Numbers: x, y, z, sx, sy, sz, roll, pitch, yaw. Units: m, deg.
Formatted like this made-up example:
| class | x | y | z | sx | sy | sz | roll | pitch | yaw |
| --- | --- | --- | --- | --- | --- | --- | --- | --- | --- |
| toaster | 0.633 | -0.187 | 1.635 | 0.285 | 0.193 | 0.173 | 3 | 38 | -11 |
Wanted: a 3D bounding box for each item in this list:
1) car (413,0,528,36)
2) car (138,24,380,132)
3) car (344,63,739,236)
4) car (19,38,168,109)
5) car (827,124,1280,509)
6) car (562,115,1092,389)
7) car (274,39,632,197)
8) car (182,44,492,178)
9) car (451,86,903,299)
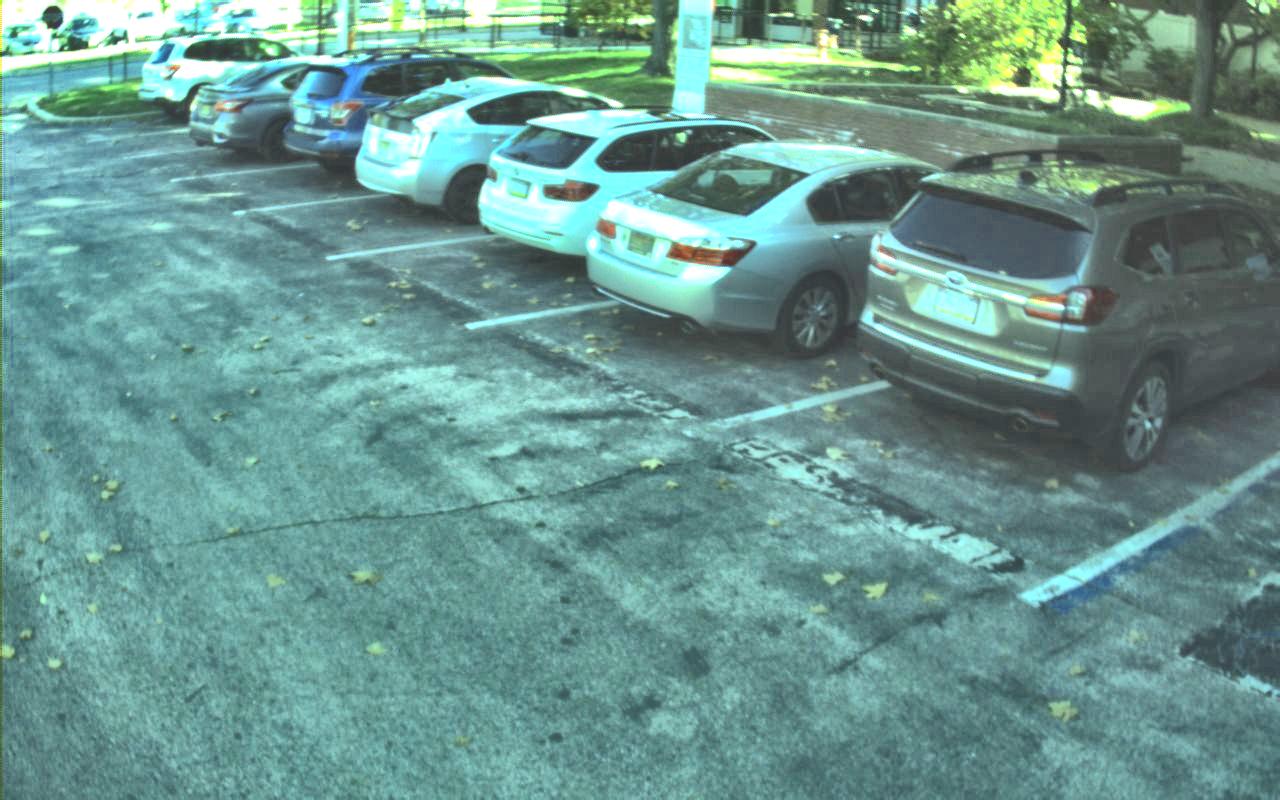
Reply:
| class | x | y | z | sx | sy | sz | roll | pitch | yaw |
| --- | --- | --- | --- | --- | --- | --- | --- | --- | --- |
| car | -6.811 | -15.376 | 48.126 | 4.667 | 1.744 | 2.013 | 13 | 21 | 39 |
| car | -7.553 | -6.347 | 23.287 | 4.556 | 1.687 | 1.969 | -13 | 20 | -36 |
| car | -1.100 | -3.053 | 14.528 | 4.300 | 1.578 | 1.888 | -13 | 20 | -34 |
| car | -17.411 | -10.232 | 35.571 | 4.801 | 1.691 | 2.010 | -12 | 20 | -33 |
| car | 3.664 | -0.938 | 8.496 | 4.765 | 1.788 | 2.032 | -14 | 21 | -37 |
| car | 1.759 | -1.451 | 10.323 | 4.448 | 1.549 | 1.918 | -13 | 20 | -35 |
| car | -2.511 | -3.906 | 16.569 | 4.485 | 1.720 | 1.966 | -13 | 20 | -34 |
| car | -4.636 | -4.465 | 18.390 | 4.438 | 1.586 | 1.943 | -14 | 20 | -36 |
| car | 0.499 | -2.259 | 12.577 | 4.367 | 1.588 | 1.915 | -14 | 20 | -36 |
